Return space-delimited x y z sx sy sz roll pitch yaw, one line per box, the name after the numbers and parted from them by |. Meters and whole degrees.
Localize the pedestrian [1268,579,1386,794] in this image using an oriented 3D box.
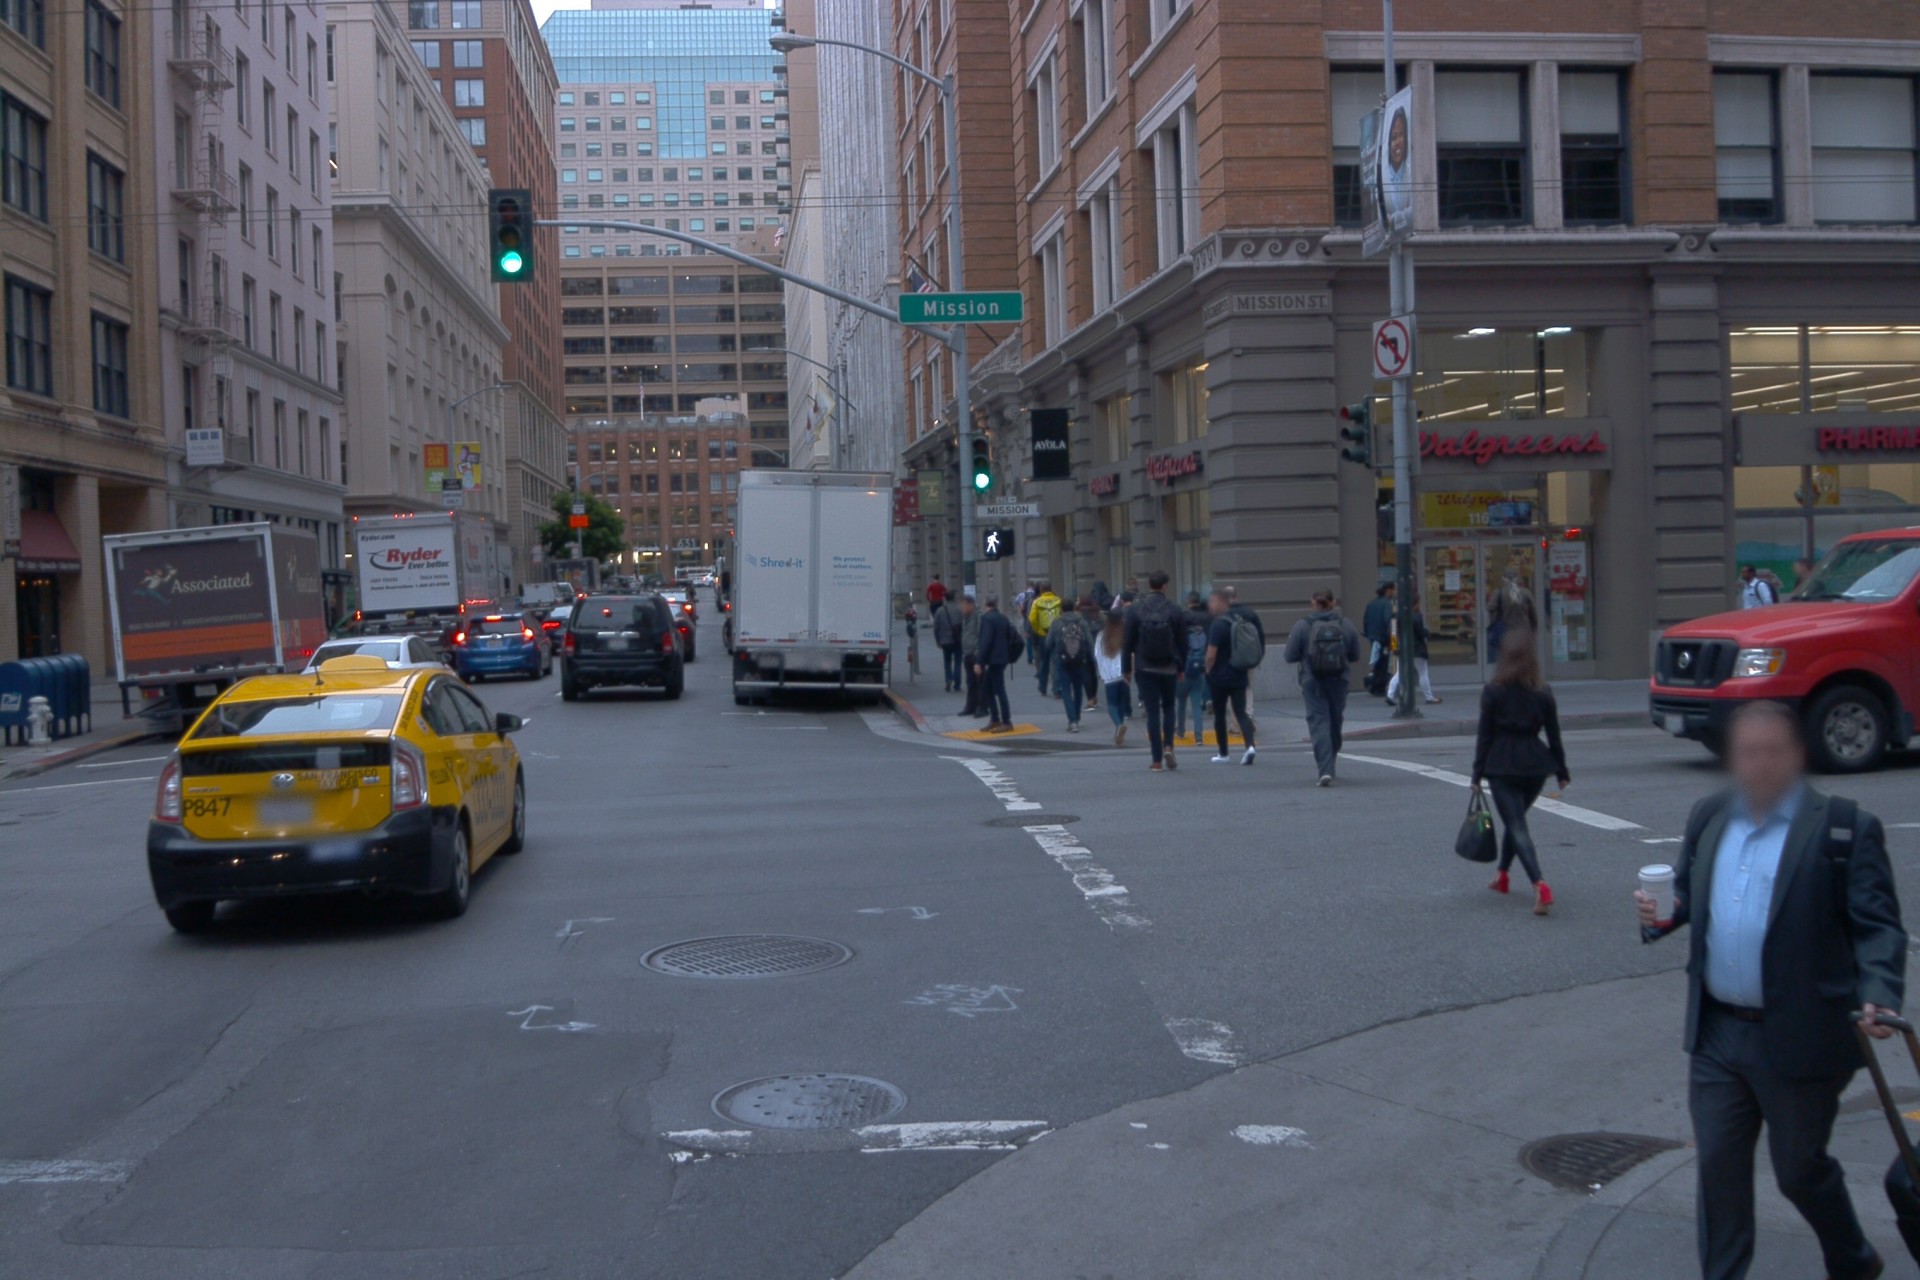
3.169 0.381 17.858 0.786 1.800 1.148 0 1 -2 | pedestrian

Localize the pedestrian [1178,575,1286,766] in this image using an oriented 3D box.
2.674 0.285 20.275 0.815 1.830 0.943 0 1 -8 | pedestrian

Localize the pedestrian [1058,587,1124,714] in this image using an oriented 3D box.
1.837 0.135 29.003 0.708 1.740 1.112 0 1 -8 | pedestrian

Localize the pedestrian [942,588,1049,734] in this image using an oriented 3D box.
0.475 0.266 27.362 1.134 1.890 0.853 1 1 44 | pedestrian

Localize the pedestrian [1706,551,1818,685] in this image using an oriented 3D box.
10.863 -0.307 27.882 1.127 1.780 0.858 0 1 -8 | pedestrian

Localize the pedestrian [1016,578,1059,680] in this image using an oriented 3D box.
1.355 -0.197 35.906 0.698 1.740 1.016 0 1 0 | pedestrian

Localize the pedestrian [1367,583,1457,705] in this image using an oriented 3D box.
5.957 0.047 27.114 0.929 1.580 0.698 -1 1 -28 | pedestrian

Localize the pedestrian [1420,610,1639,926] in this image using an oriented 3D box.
3.229 0.686 11.746 0.785 1.710 1.088 0 1 -12 | pedestrian

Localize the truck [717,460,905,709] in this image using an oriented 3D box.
-2.734 -0.920 35.393 2.836 3.790 7.822 0 1 -7 | truck

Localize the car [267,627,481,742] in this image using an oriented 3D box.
-8.272 0.570 29.455 2.128 1.460 4.553 0 1 -5 | car

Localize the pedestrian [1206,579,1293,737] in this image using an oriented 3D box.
3.535 0.209 25.175 0.858 1.900 0.874 0 1 -6 | pedestrian

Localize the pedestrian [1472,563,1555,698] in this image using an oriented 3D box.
7.627 -0.138 28.372 0.860 1.830 0.884 0 1 -3 | pedestrian

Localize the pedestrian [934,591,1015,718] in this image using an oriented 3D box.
0.199 0.192 28.910 0.947 1.760 0.760 -1 1 -18 | pedestrian

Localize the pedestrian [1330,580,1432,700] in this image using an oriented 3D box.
5.842 -0.012 28.542 1.007 1.636 1.003 -1 1 -20 | pedestrian

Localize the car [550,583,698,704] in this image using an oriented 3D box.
-5.816 0.017 36.129 2.237 1.970 4.827 0 1 -5 | car

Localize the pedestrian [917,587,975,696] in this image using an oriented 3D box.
-0.239 0.012 33.691 0.778 1.760 1.028 0 1 -9 | pedestrian

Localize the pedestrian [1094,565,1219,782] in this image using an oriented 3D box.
1.841 0.297 19.461 0.918 1.980 1.155 0 1 -8 | pedestrian

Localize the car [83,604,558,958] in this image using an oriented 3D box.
-3.997 0.742 13.740 2.068 1.950 4.597 0 1 -5 | car

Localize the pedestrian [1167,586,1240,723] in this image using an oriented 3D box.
3.143 0.178 26.607 0.701 1.740 0.968 0 1 -9 | pedestrian

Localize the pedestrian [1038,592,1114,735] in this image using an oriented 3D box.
1.475 0.285 26.280 0.912 1.790 1.172 0 1 1 | pedestrian

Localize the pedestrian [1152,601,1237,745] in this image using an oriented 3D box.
2.807 0.382 24.685 0.858 1.690 0.874 0 1 -5 | pedestrian

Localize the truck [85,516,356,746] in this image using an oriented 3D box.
-11.873 -0.187 33.639 3.011 3.380 6.430 0 1 -9 | truck

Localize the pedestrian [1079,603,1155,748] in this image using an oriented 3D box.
1.906 0.411 25.112 0.721 1.730 0.991 0 1 -8 | pedestrian

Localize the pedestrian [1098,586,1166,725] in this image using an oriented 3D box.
2.255 0.189 27.022 0.763 1.790 0.987 0 1 -2 | pedestrian

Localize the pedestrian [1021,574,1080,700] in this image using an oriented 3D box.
1.363 -0.052 31.233 0.812 1.880 1.040 0 1 -2 | pedestrian
